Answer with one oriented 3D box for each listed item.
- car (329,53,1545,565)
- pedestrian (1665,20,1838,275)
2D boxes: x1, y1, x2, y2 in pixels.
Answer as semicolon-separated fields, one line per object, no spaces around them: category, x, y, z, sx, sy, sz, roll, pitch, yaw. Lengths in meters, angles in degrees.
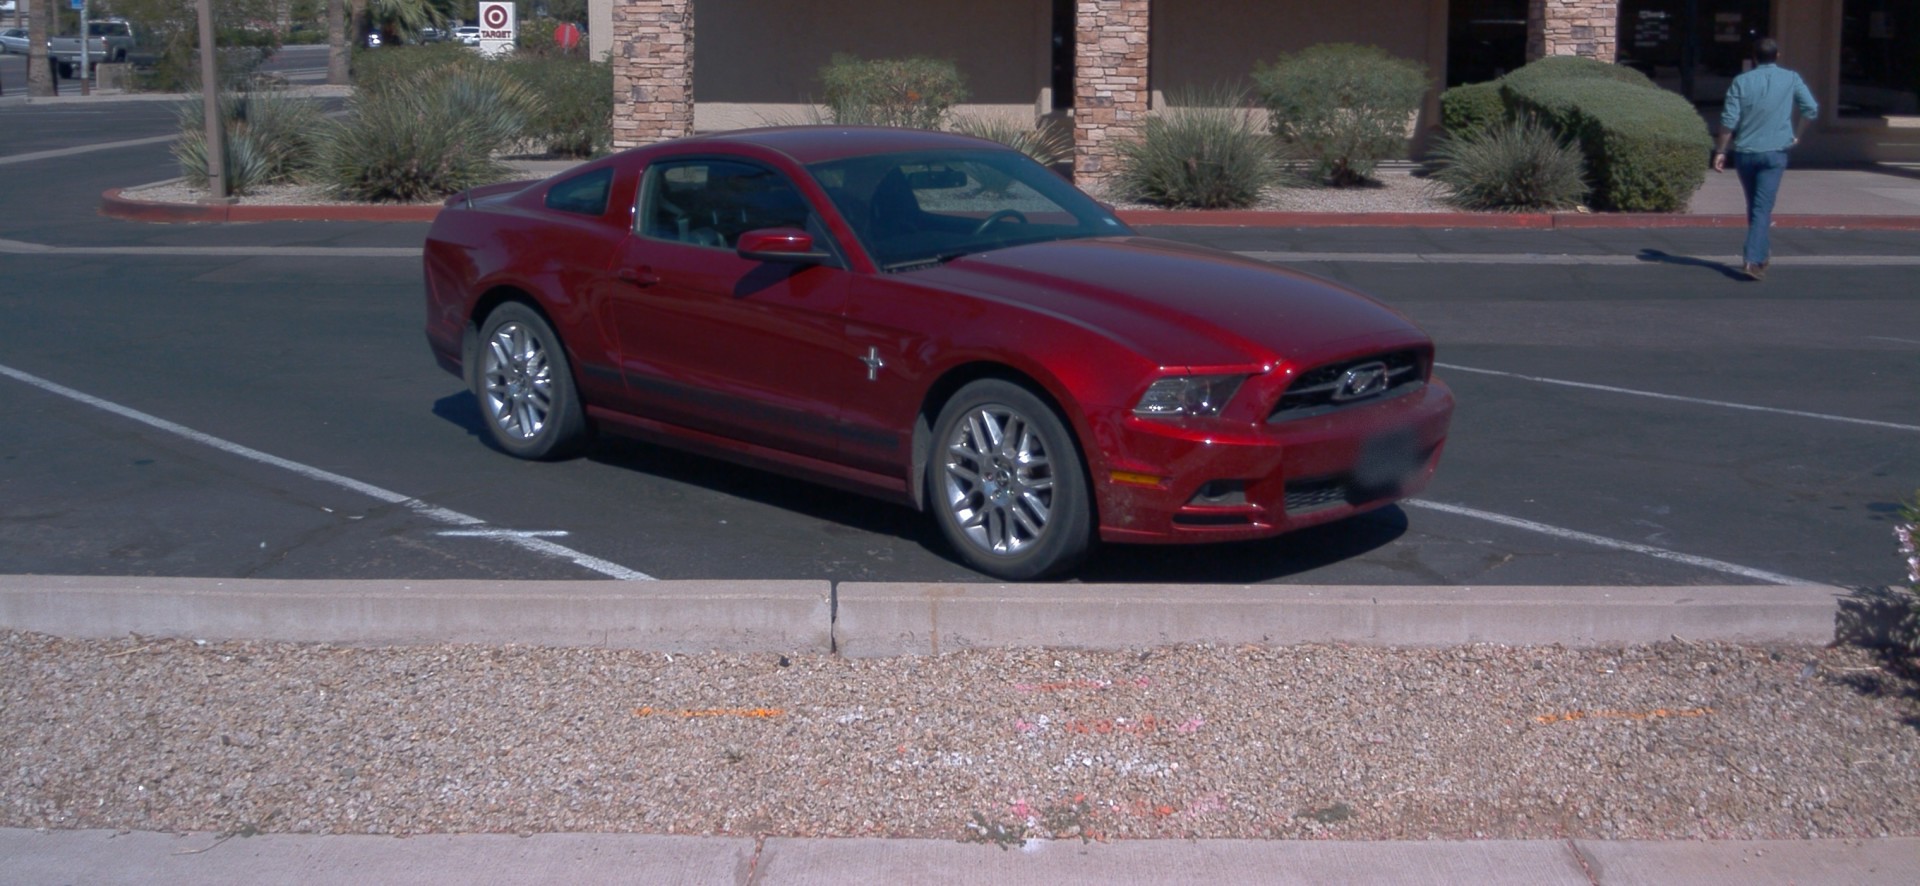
car;-0.353;-0.625;8.244;4.725;1.437;2.121;5;7;44
pedestrian;5.889;-2.164;15.415;0.964;1.799;1.188;1;2;33
